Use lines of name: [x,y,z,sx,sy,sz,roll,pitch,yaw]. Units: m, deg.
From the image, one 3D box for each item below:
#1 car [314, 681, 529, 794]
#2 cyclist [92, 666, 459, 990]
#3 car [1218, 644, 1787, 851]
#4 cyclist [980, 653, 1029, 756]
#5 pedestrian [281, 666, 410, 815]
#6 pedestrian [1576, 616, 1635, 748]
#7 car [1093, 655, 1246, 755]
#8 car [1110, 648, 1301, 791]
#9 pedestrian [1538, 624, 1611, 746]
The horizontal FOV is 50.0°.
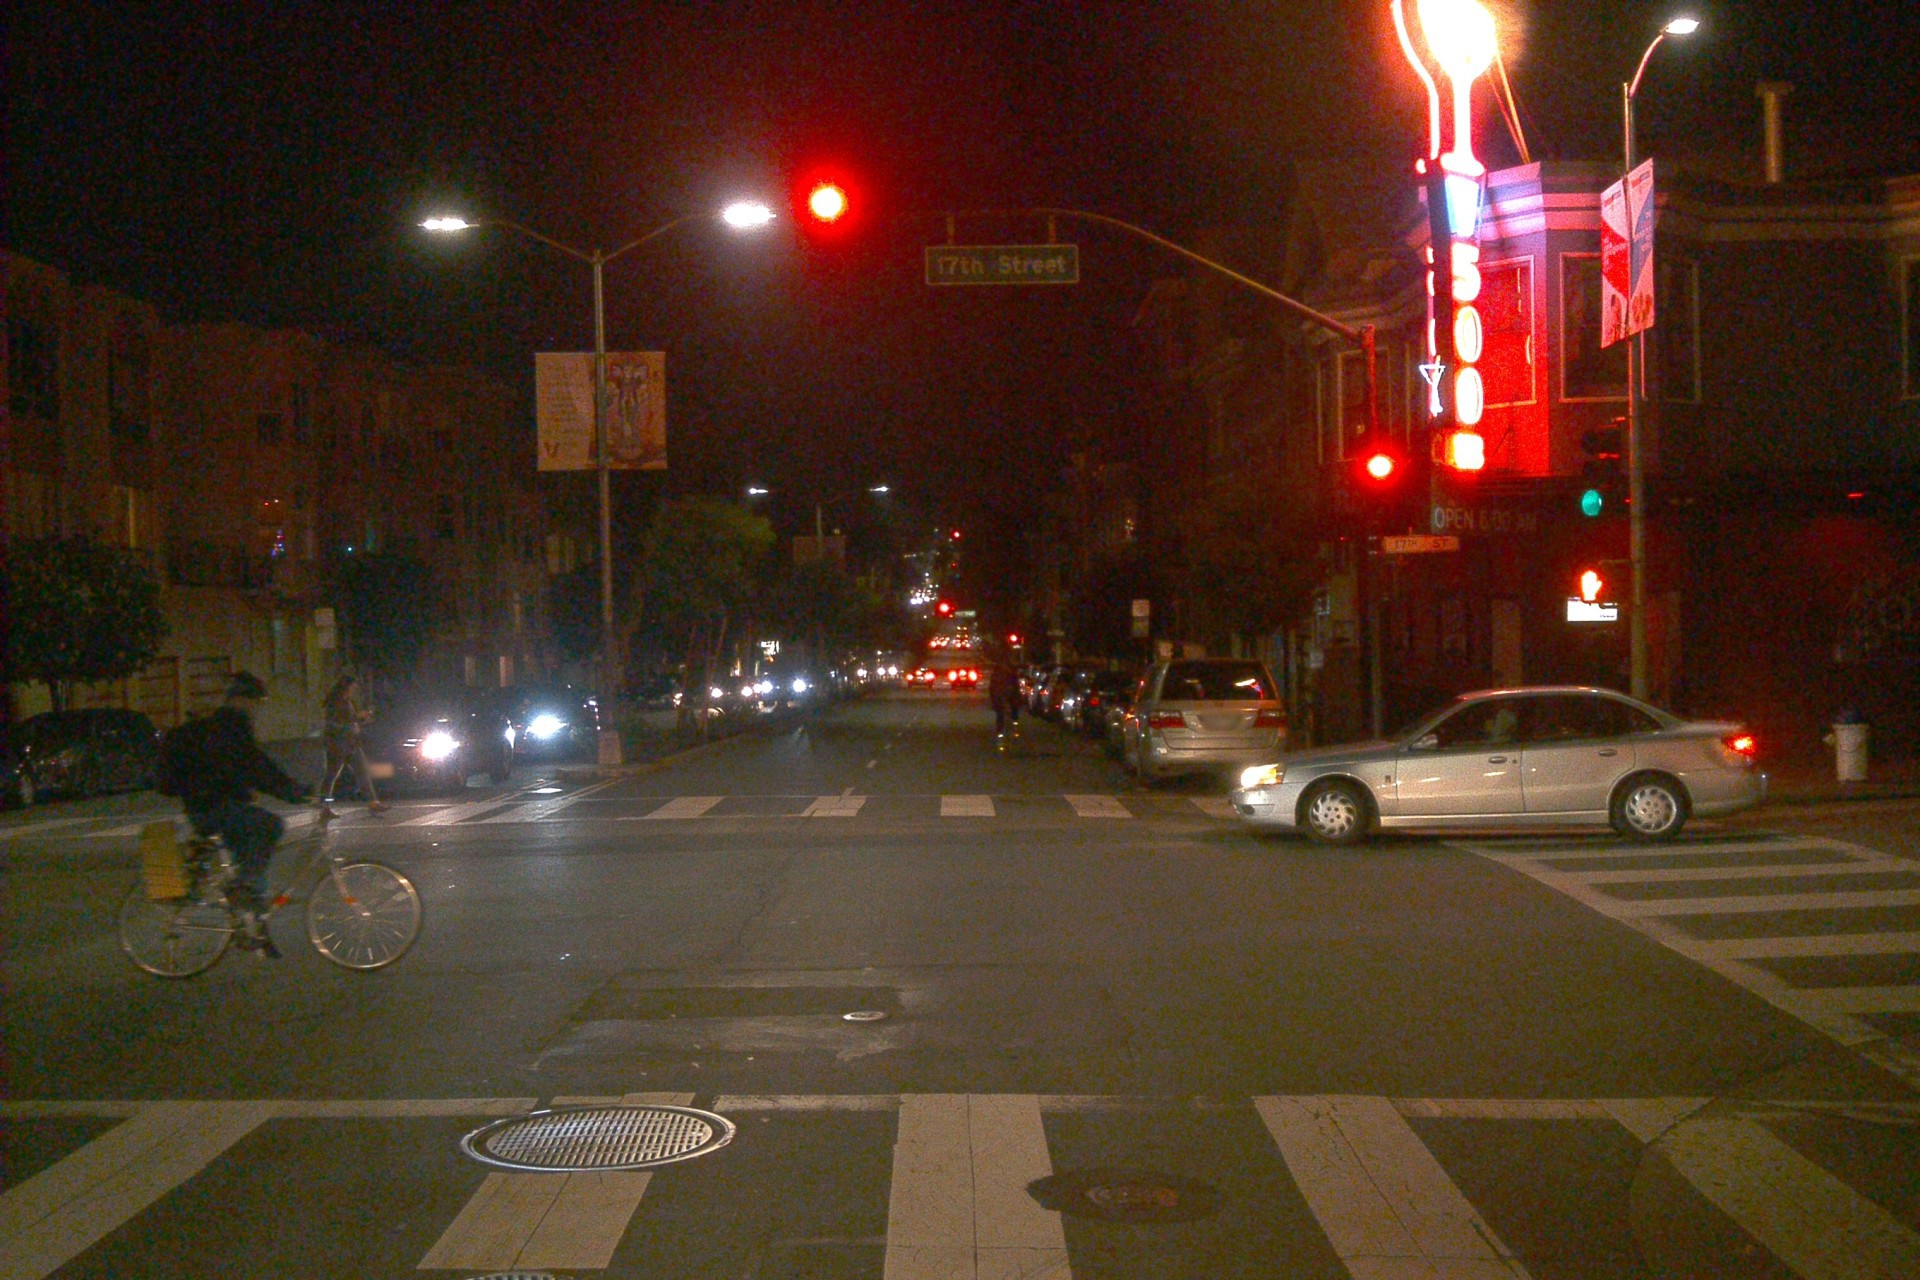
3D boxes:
car: [-7.621,1.334,29.543,1.903,1.390,4.511,1,0,0]
cyclist: [-4.093,1.106,12.425,1.949,1.870,0.822,1,0,-5]
car: [4.898,0.923,19.113,4.826,1.720,2.135,1,0,10]
cyclist: [0.788,1.118,36.385,0.823,1.760,1.915,1,0,1]
pedestrian: [-7.192,1.159,24.116,1.189,1.690,0.924,1,0,4]
pedestrian: [9.050,0.574,28.828,0.739,1.820,0.628,1,0,20]
car: [3.322,0.997,33.307,1.810,1.470,4.216,1,0,-3]
car: [3.288,1.019,28.469,2.087,1.770,4.655,1,0,0]
pedestrian: [8.813,0.640,29.498,0.721,1.720,0.691,1,0,-18]
